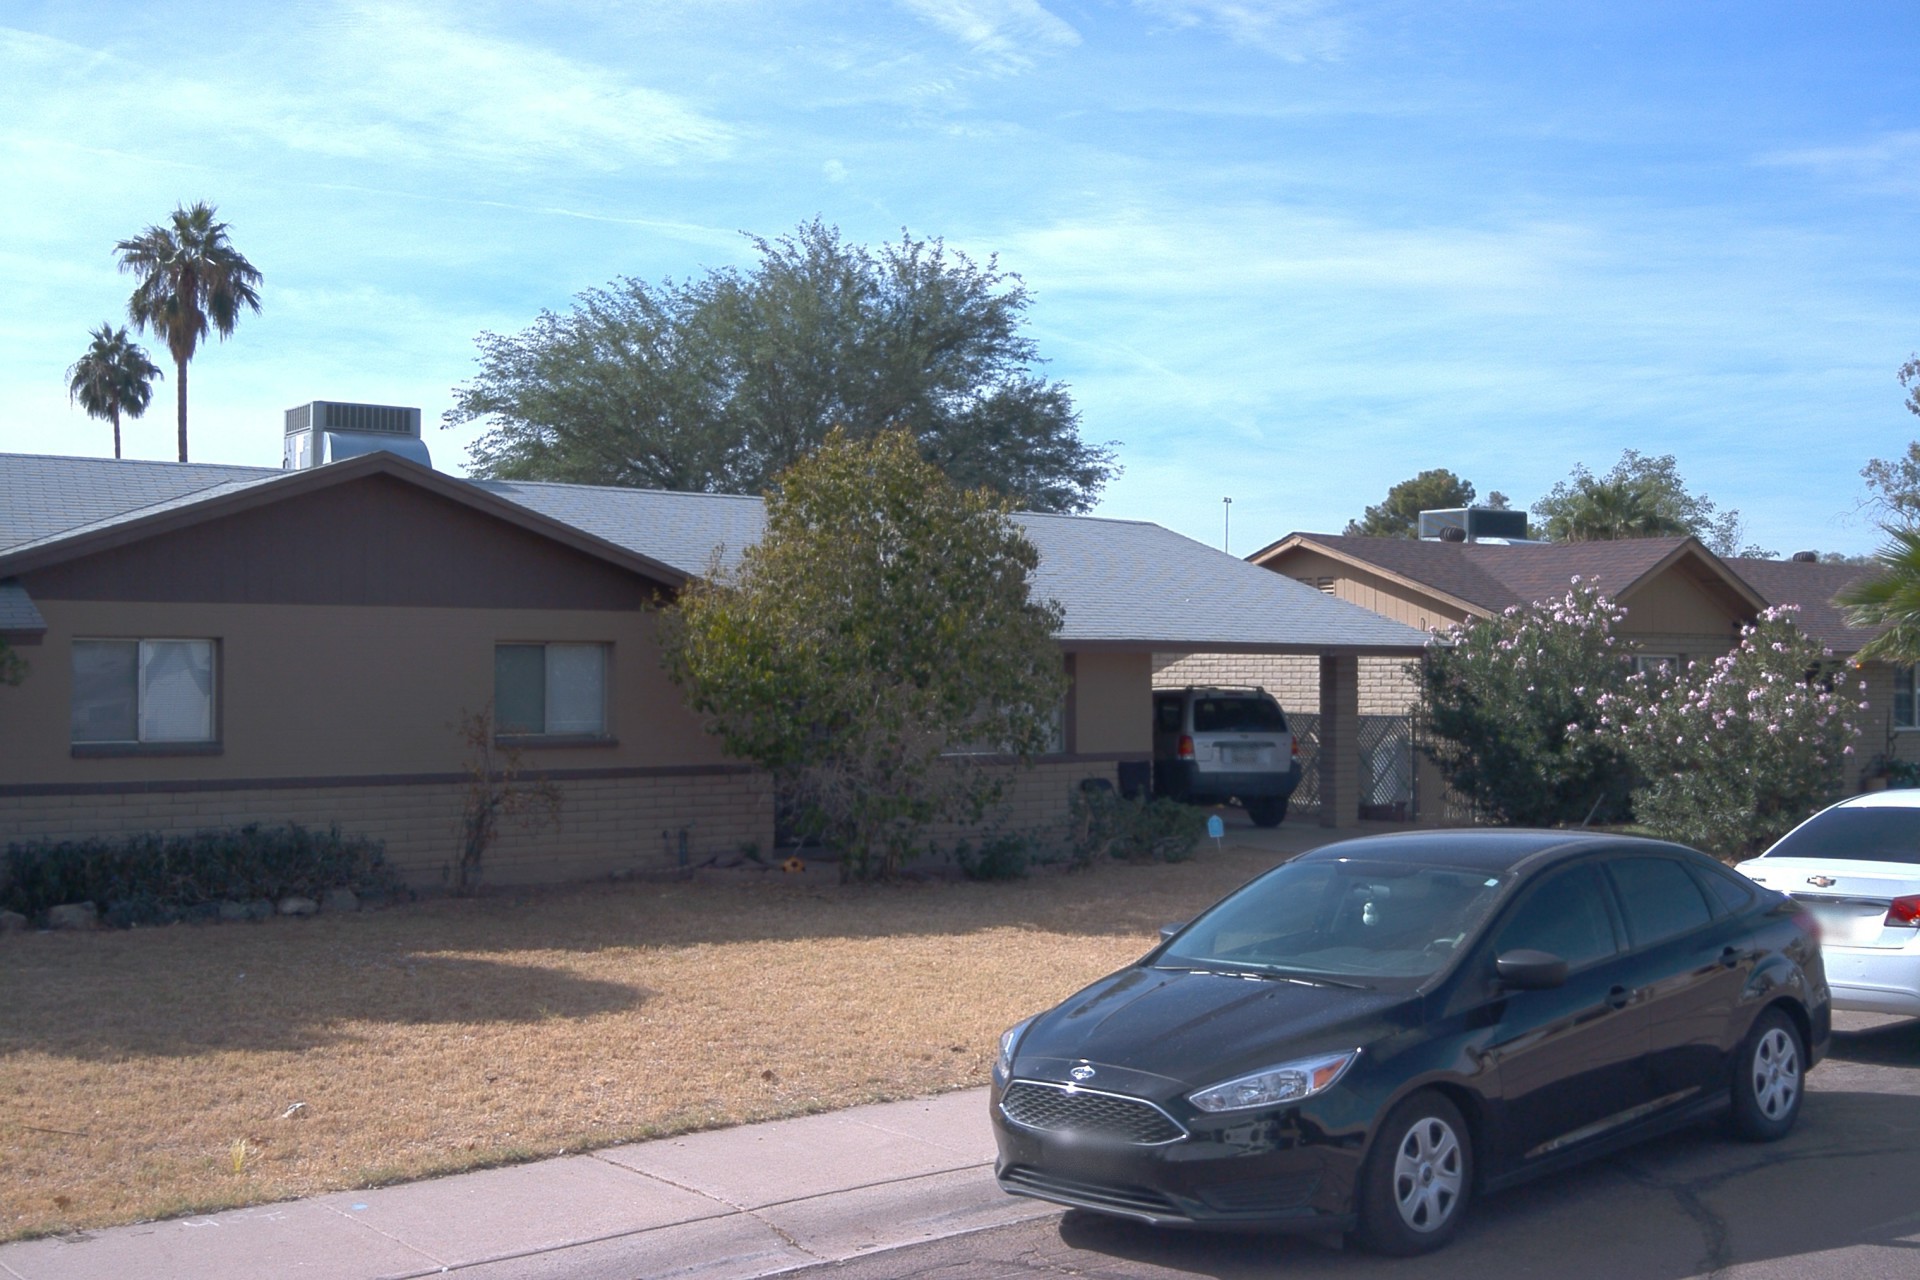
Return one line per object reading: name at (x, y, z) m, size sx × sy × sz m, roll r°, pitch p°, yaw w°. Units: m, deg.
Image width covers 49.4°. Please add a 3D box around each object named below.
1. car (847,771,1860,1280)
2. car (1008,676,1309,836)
car at (1.916, 1.492, 9.127) m, size 4.558 × 1.610 × 2.040 m, roll 1°, pitch -1°, yaw -43°
car at (2.454, 1.411, 27.102) m, size 2.073 × 1.850 × 4.556 m, roll 1°, pitch -1°, yaw -21°
